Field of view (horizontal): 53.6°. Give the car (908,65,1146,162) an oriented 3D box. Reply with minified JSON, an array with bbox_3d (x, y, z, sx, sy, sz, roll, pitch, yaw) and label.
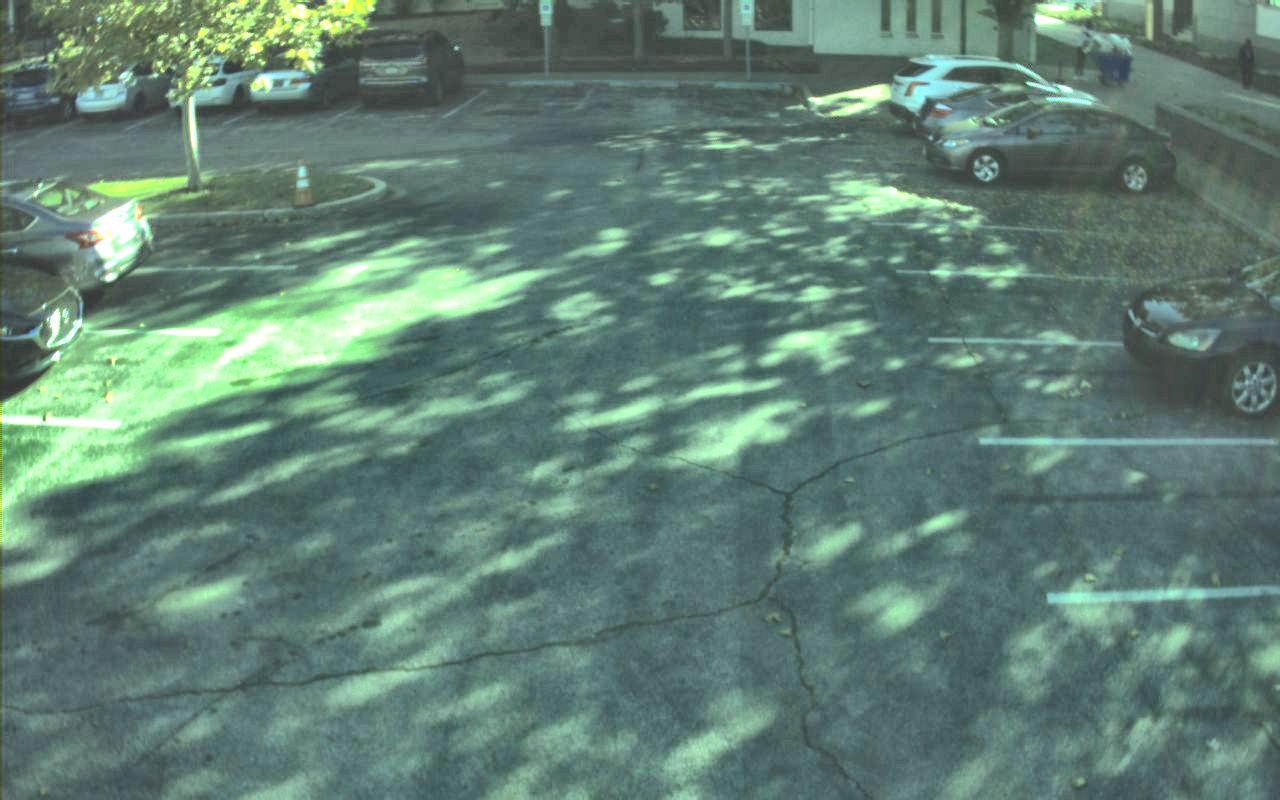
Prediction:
[{"bbox_3d":[7.295,-5.428,22.595,4.323,1.553,1.933,0,16,3],"label":"car"}]

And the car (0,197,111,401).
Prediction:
[{"bbox_3d":[-7.849,-0.995,11.218,4.402,1.599,1.947,-1,16,1],"label":"car"}]

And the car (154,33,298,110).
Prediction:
[{"bbox_3d":[-10.777,-8.589,30.667,1.965,1.646,4.568,2,17,9],"label":"car"}]

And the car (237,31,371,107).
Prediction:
[{"bbox_3d":[-8.378,-8.338,30.006,1.958,1.622,4.528,1,17,5],"label":"car"}]

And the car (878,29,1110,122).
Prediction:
[{"bbox_3d":[7.362,-6.774,24.954,4.642,1.702,2.009,-1,16,1],"label":"car"}]

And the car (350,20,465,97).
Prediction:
[{"bbox_3d":[-5.681,-8.484,30.053,1.997,1.685,4.608,-1,17,1],"label":"car"}]

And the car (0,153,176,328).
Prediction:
[{"bbox_3d":[-8.029,-1.931,13.753,4.328,1.613,1.934,-1,16,0],"label":"car"}]

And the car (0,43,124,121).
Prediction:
[{"bbox_3d":[-16.349,-8.841,30.997,1.975,1.679,4.567,1,17,7],"label":"car"}]

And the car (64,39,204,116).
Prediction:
[{"bbox_3d":[-13.635,-8.683,30.809,1.954,1.639,4.505,1,17,8],"label":"car"}]

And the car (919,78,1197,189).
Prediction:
[{"bbox_3d":[7.148,-4.580,20.394,4.620,1.563,1.981,0,16,3],"label":"car"}]
